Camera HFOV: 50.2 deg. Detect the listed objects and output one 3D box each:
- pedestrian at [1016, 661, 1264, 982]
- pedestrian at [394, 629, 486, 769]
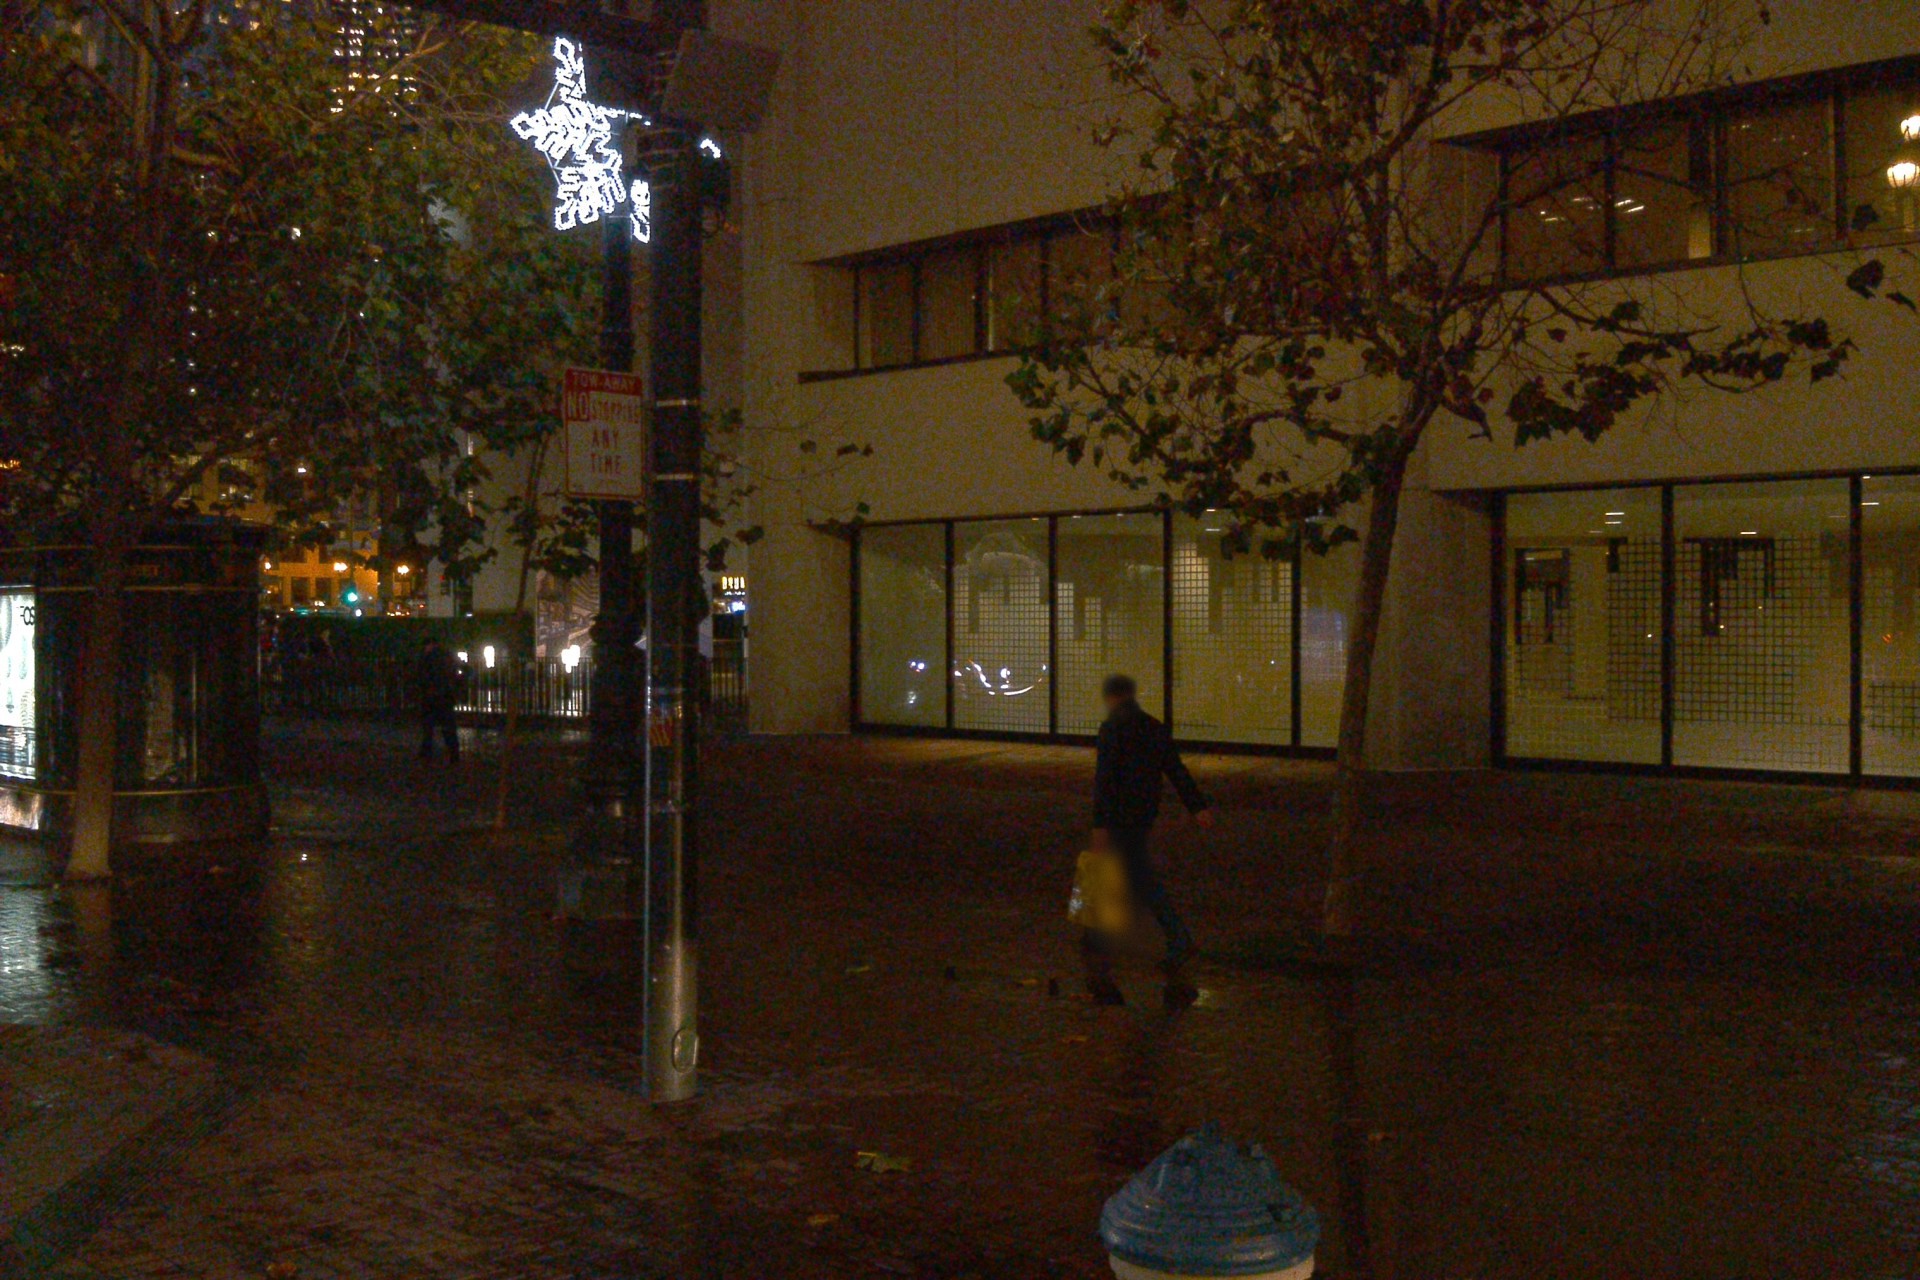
[{"bbox_3d":[1.039,1.000,11.902,0.941,1.740,1.066,1,0,-41],"label":"pedestrian"},{"bbox_3d":[-6.793,0.748,26.738,0.860,1.780,1.103,1,0,-31],"label":"pedestrian"}]
